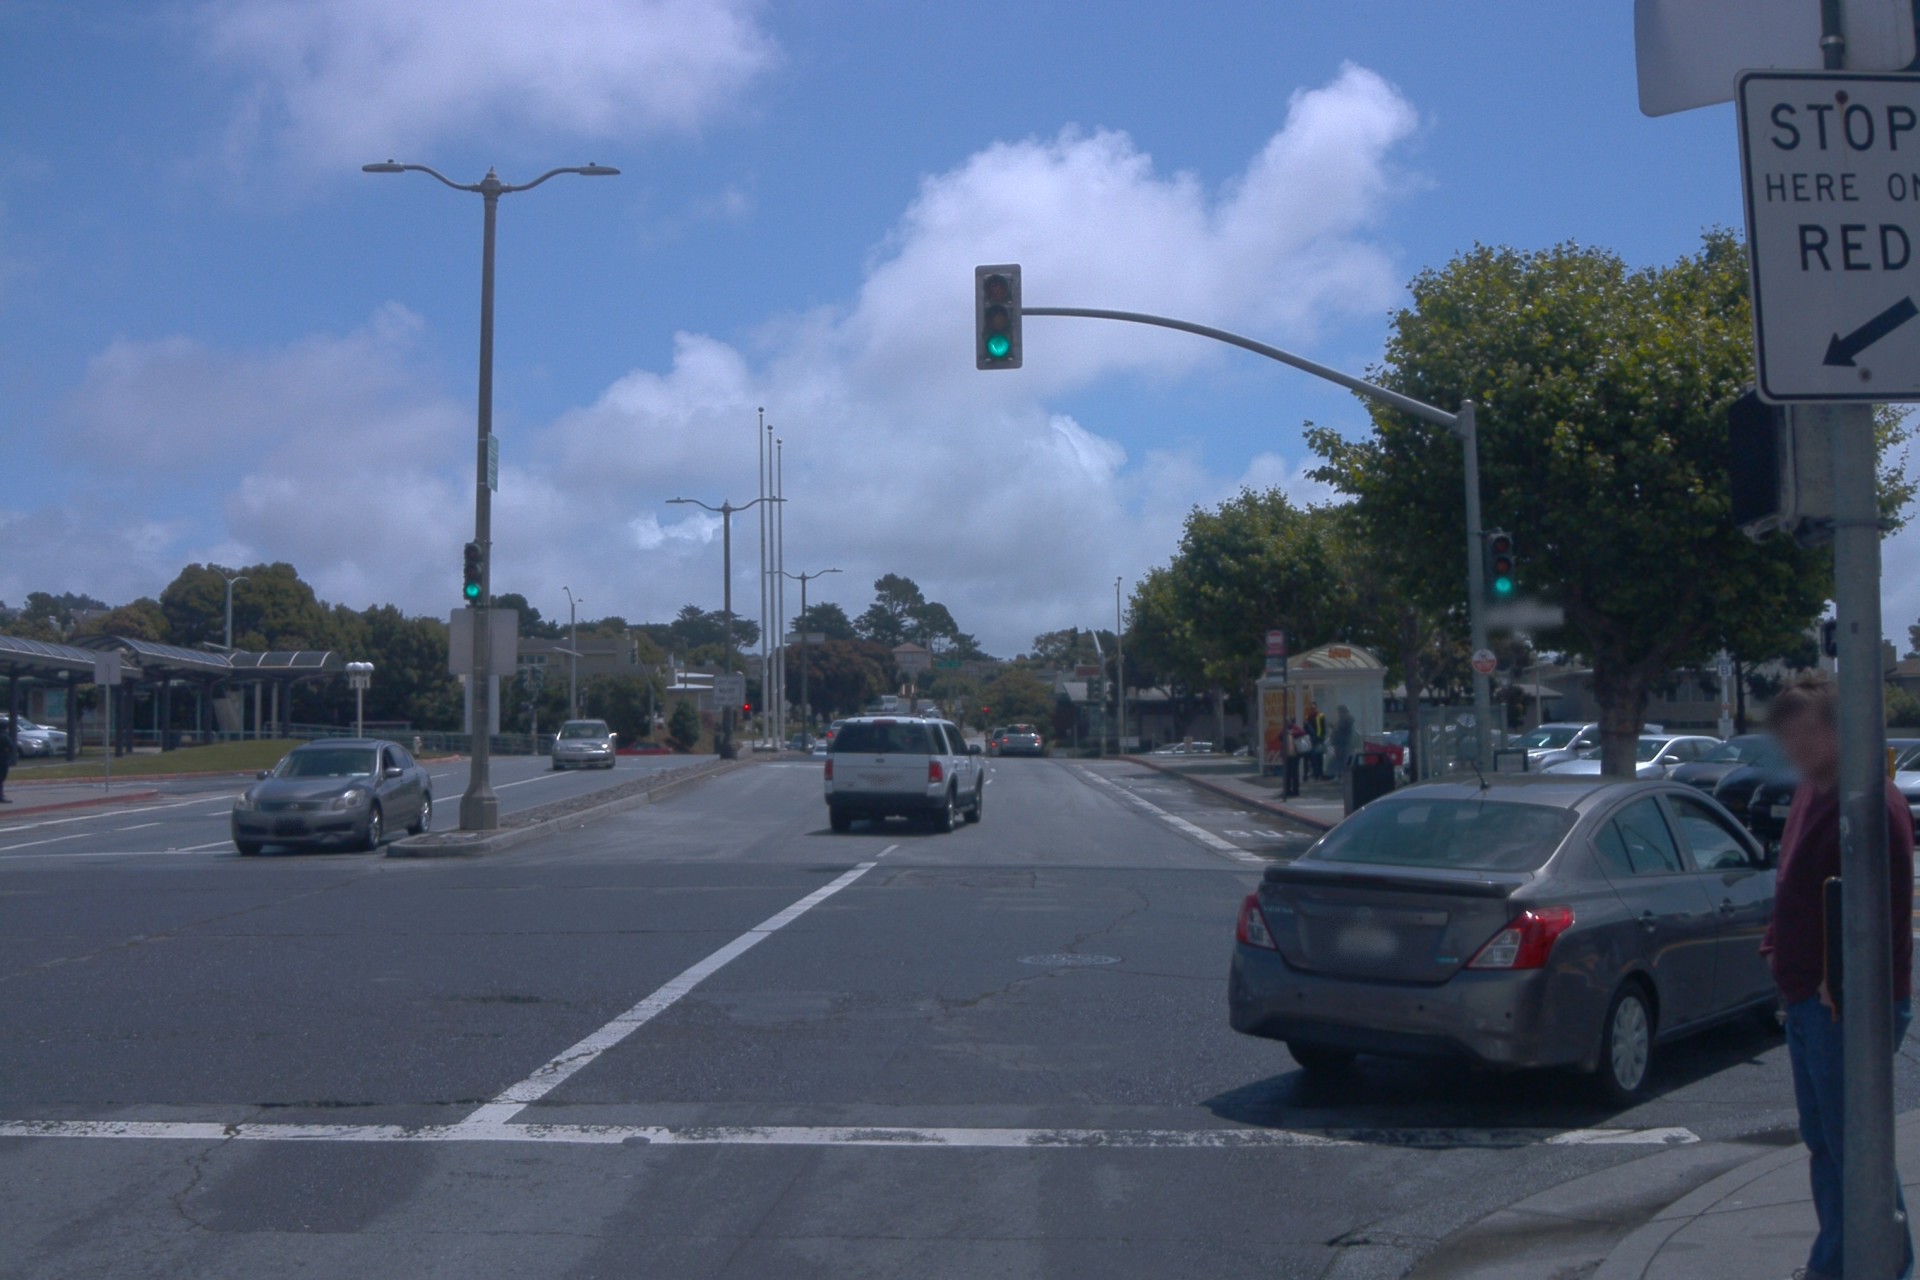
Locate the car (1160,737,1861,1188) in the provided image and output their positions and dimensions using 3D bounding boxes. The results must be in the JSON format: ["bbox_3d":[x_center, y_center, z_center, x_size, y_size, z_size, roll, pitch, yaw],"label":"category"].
[{"bbox_3d":[3.037,1.434,10.697,1.949,1.580,4.209,0,1,40],"label":"car"}]

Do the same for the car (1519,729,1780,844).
[{"bbox_3d":[12.168,2.522,36.207,4.440,1.660,2.123,-1,1,-35],"label":"car"}]

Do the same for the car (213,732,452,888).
[{"bbox_3d":[-8.499,2.251,28.295,1.950,1.680,4.713,0,1,-1],"label":"car"}]

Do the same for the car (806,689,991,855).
[{"bbox_3d":[-0.859,1.942,31.821,2.039,2.200,4.656,0,1,9],"label":"car"}]
